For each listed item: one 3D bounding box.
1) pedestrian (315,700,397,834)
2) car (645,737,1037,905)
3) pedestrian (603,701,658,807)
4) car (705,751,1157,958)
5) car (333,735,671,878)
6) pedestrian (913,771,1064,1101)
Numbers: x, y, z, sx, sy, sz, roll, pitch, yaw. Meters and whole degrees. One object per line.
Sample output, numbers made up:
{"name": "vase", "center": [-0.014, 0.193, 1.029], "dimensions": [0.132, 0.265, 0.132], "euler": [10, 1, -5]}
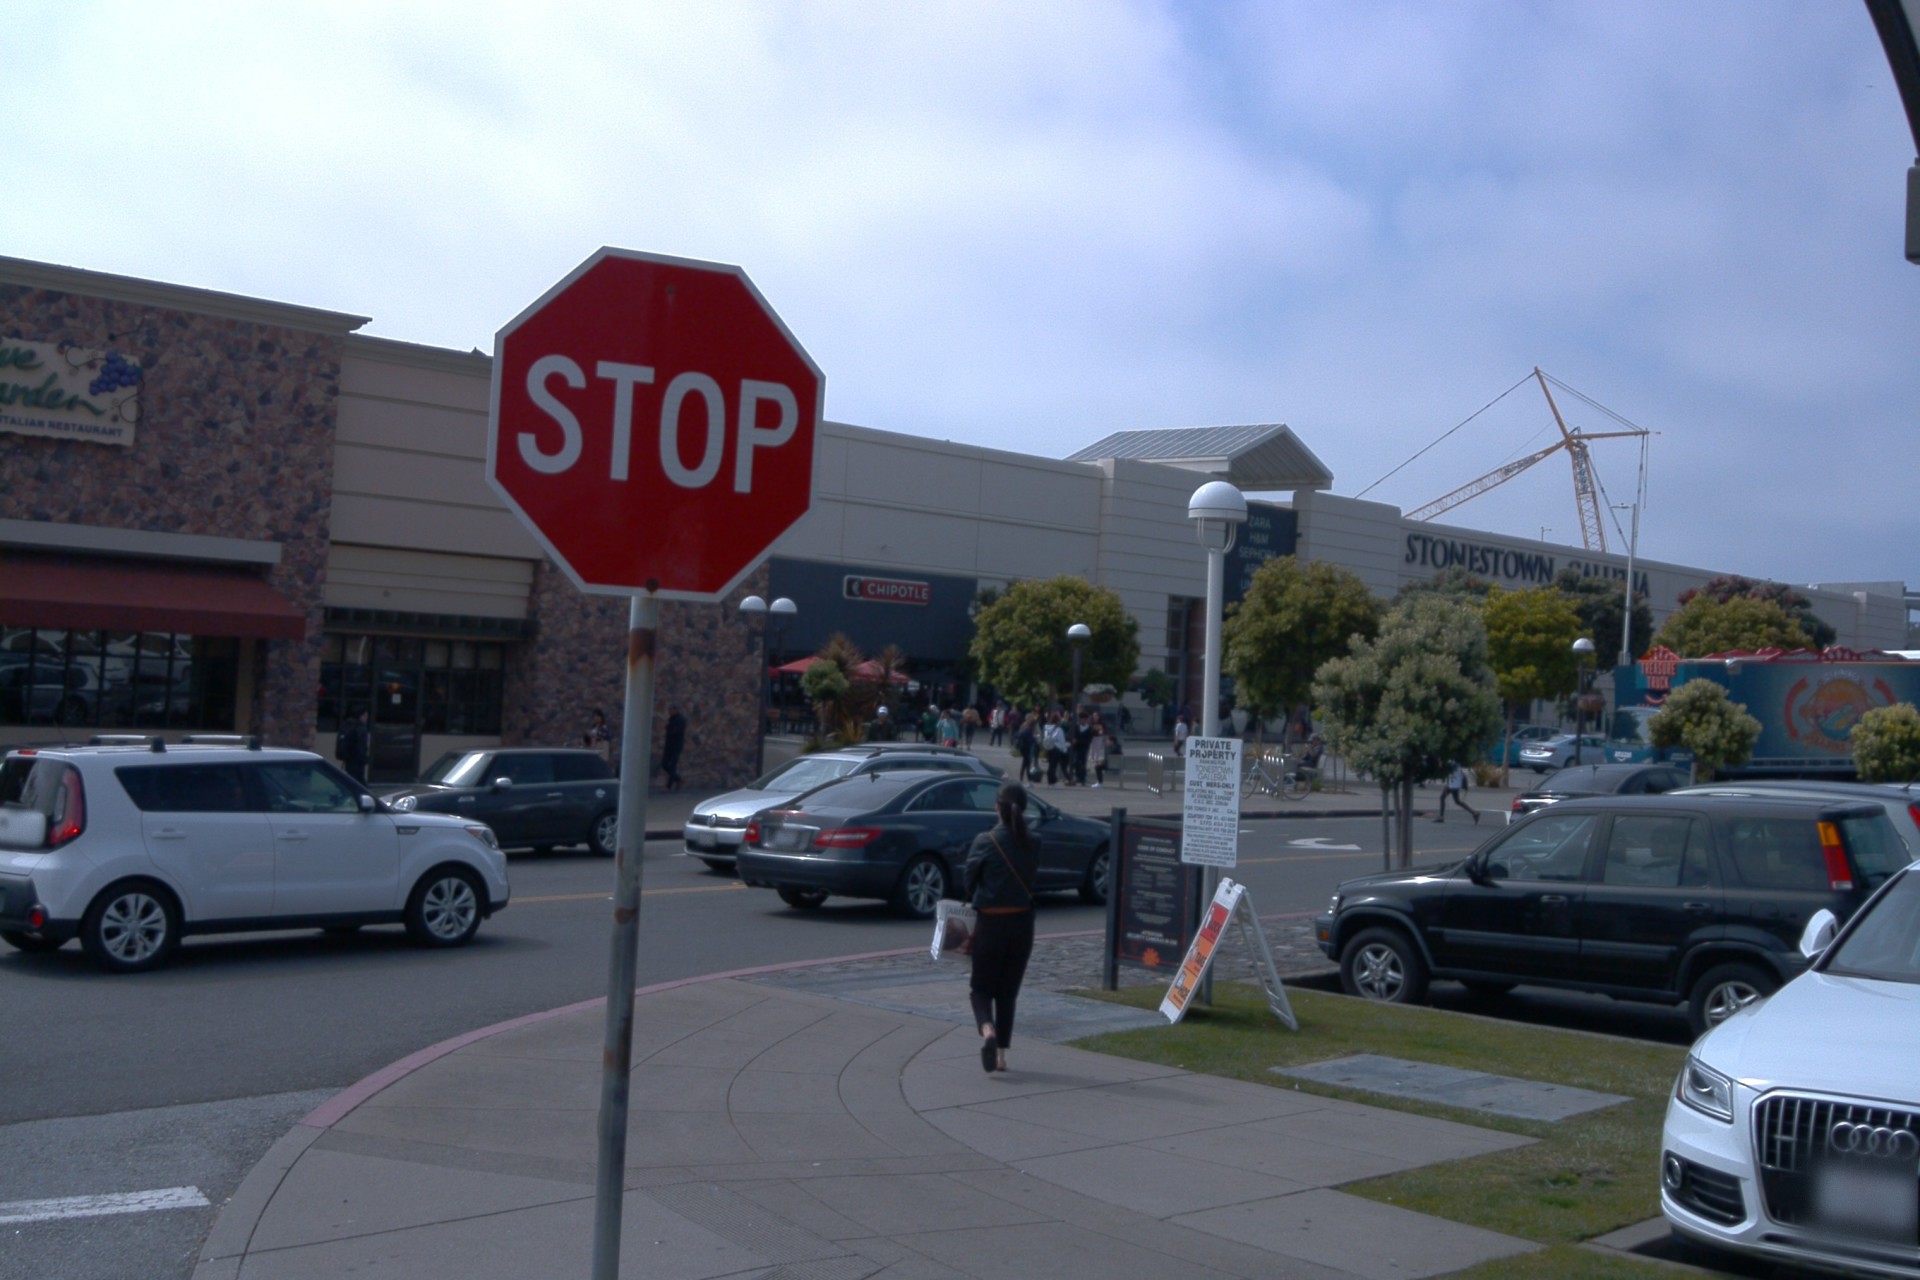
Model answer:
{"name": "pedestrian", "center": [-8.373, 1.748, 28.505], "dimensions": [0.630, 1.780, 0.890], "euler": [0, 0, 44]}
{"name": "car", "center": [-1.356, 2.098, 24.920], "dimensions": [2.056, 1.570, 4.517], "euler": [0, 1, 45]}
{"name": "pedestrian", "center": [-5.704, 1.965, 35.578], "dimensions": [0.727, 1.780, 0.618], "euler": [0, 0, 42]}
{"name": "car", "center": [-0.183, 2.025, 20.529], "dimensions": [1.963, 1.530, 4.466], "euler": [0, 1, 43]}
{"name": "car", "center": [-5.662, 2.012, 25.631], "dimensions": [3.678, 1.422, 1.848], "euler": [-1, 1, -43]}
{"name": "pedestrian", "center": [0.136, 1.489, 10.587], "dimensions": [0.628, 1.570, 0.740], "euler": [0, 0, -11]}
